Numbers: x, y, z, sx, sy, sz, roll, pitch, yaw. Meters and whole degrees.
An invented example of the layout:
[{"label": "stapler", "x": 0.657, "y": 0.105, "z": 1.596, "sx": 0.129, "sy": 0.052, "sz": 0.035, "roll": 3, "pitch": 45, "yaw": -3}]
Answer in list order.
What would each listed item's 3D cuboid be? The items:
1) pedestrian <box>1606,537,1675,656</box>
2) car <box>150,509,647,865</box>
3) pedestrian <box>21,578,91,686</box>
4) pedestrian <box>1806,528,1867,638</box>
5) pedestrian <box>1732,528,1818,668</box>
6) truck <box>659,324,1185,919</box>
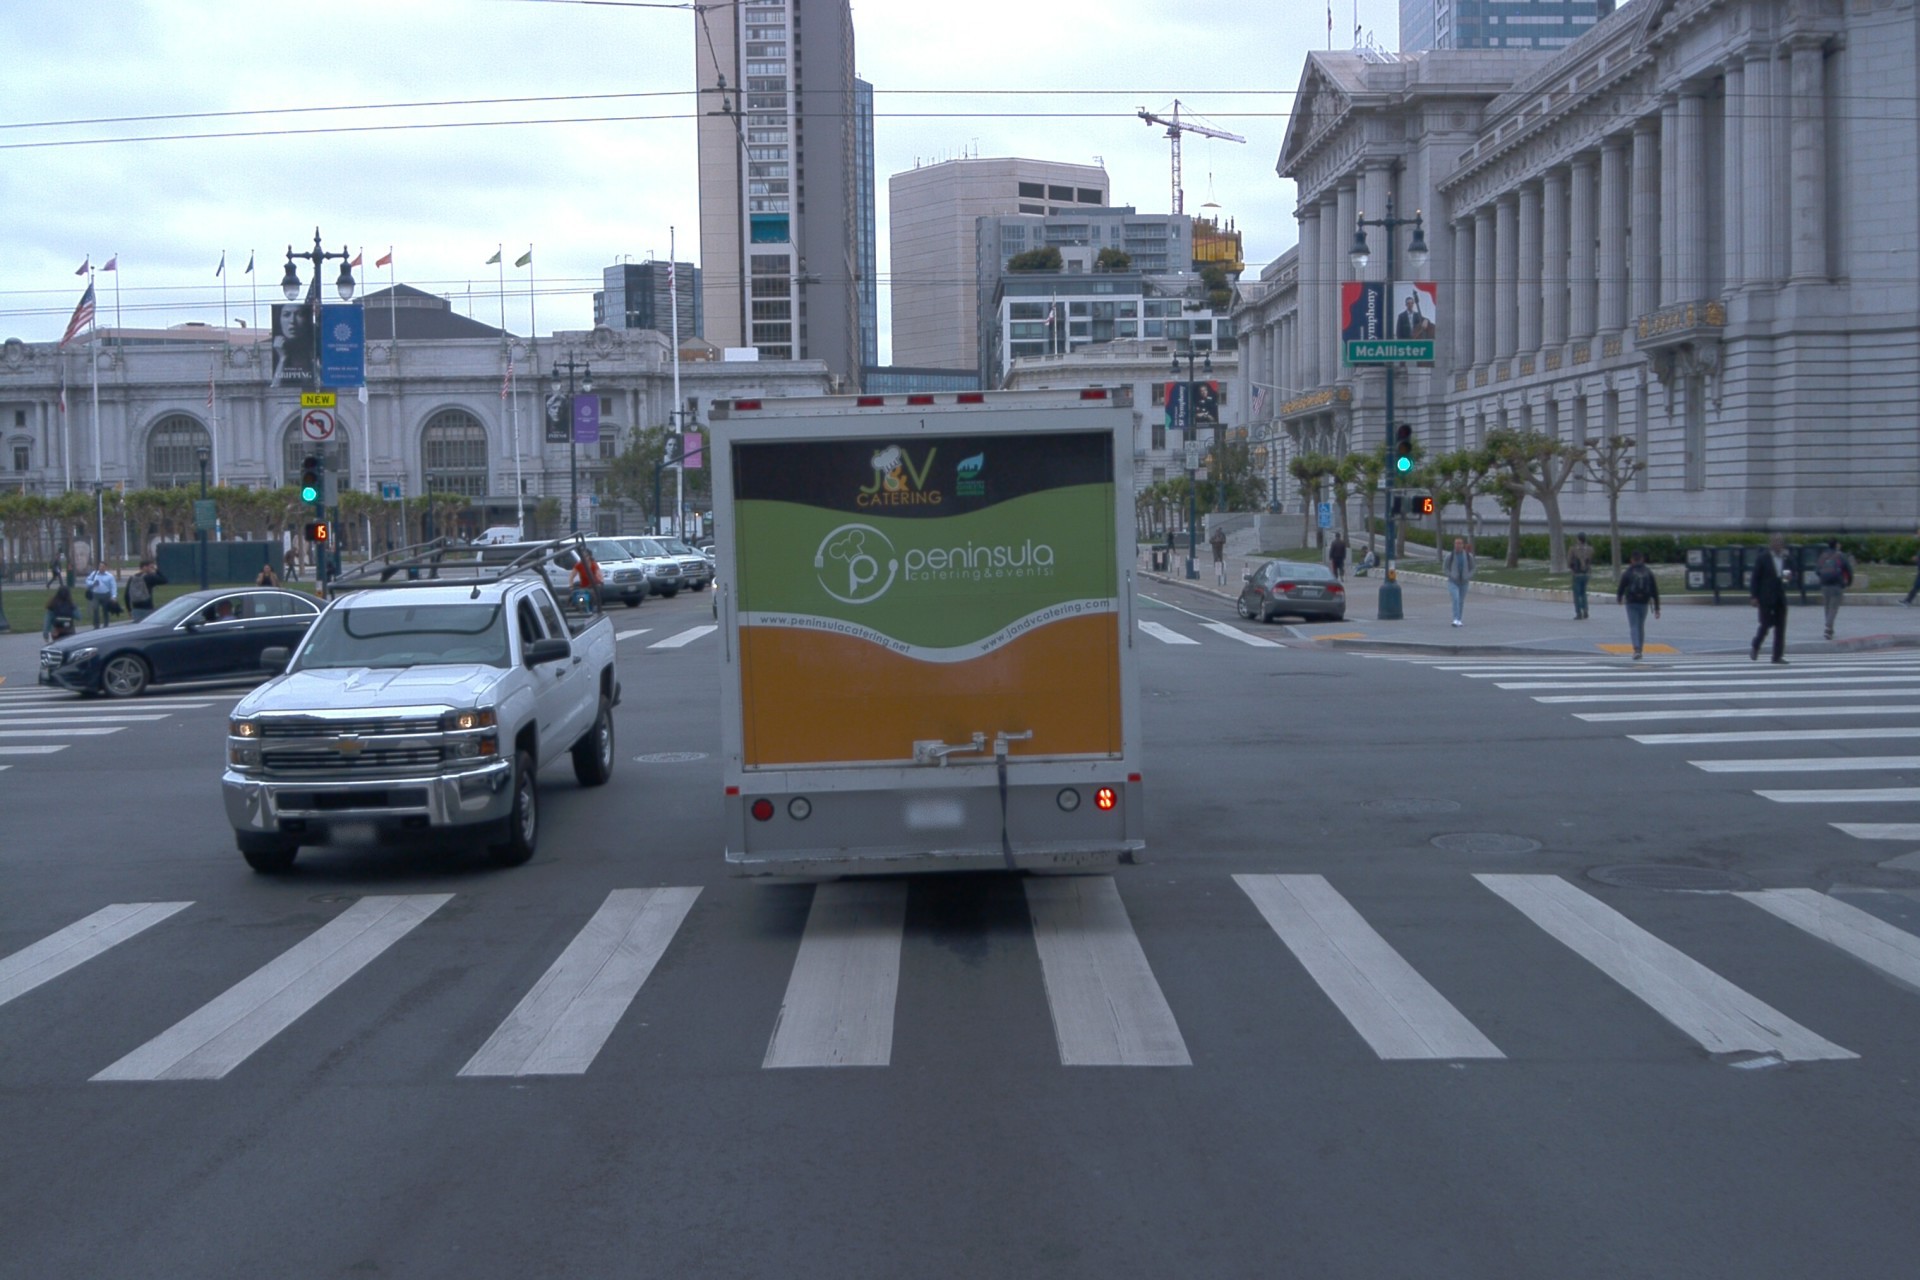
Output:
[{"label": "pedestrian", "x": 10.250, "y": -0.645, "z": 30.993, "sx": 0.832, "sy": 1.760, "sz": 0.933, "roll": 0, "pitch": 1, "yaw": 9}, {"label": "car", "x": -4.158, "y": 0.261, "z": 16.539, "sx": 2.433, "sy": 2.339, "sz": 5.916, "roll": 0, "pitch": 1, "yaw": -1}, {"label": "pedestrian", "x": -14.736, "y": -0.140, "z": 33.550, "sx": 0.791, "sy": 1.734, "sz": 0.967, "roll": 0, "pitch": 1, "yaw": -8}, {"label": "pedestrian", "x": 14.972, "y": -0.970, "z": 35.130, "sx": 0.805, "sy": 1.850, "sz": 0.872, "roll": 0, "pitch": 1, "yaw": 34}, {"label": "pedestrian", "x": 10.963, "y": -0.557, "z": 27.689, "sx": 0.812, "sy": 1.850, "sz": 0.951, "roll": 0, "pitch": 1, "yaw": 4}, {"label": "truck", "x": -0.318, "y": -0.165, "z": 15.102, "sx": 2.917, "sy": 3.300, "sz": 7.285, "roll": 0, "pitch": 1, "yaw": -2}]
